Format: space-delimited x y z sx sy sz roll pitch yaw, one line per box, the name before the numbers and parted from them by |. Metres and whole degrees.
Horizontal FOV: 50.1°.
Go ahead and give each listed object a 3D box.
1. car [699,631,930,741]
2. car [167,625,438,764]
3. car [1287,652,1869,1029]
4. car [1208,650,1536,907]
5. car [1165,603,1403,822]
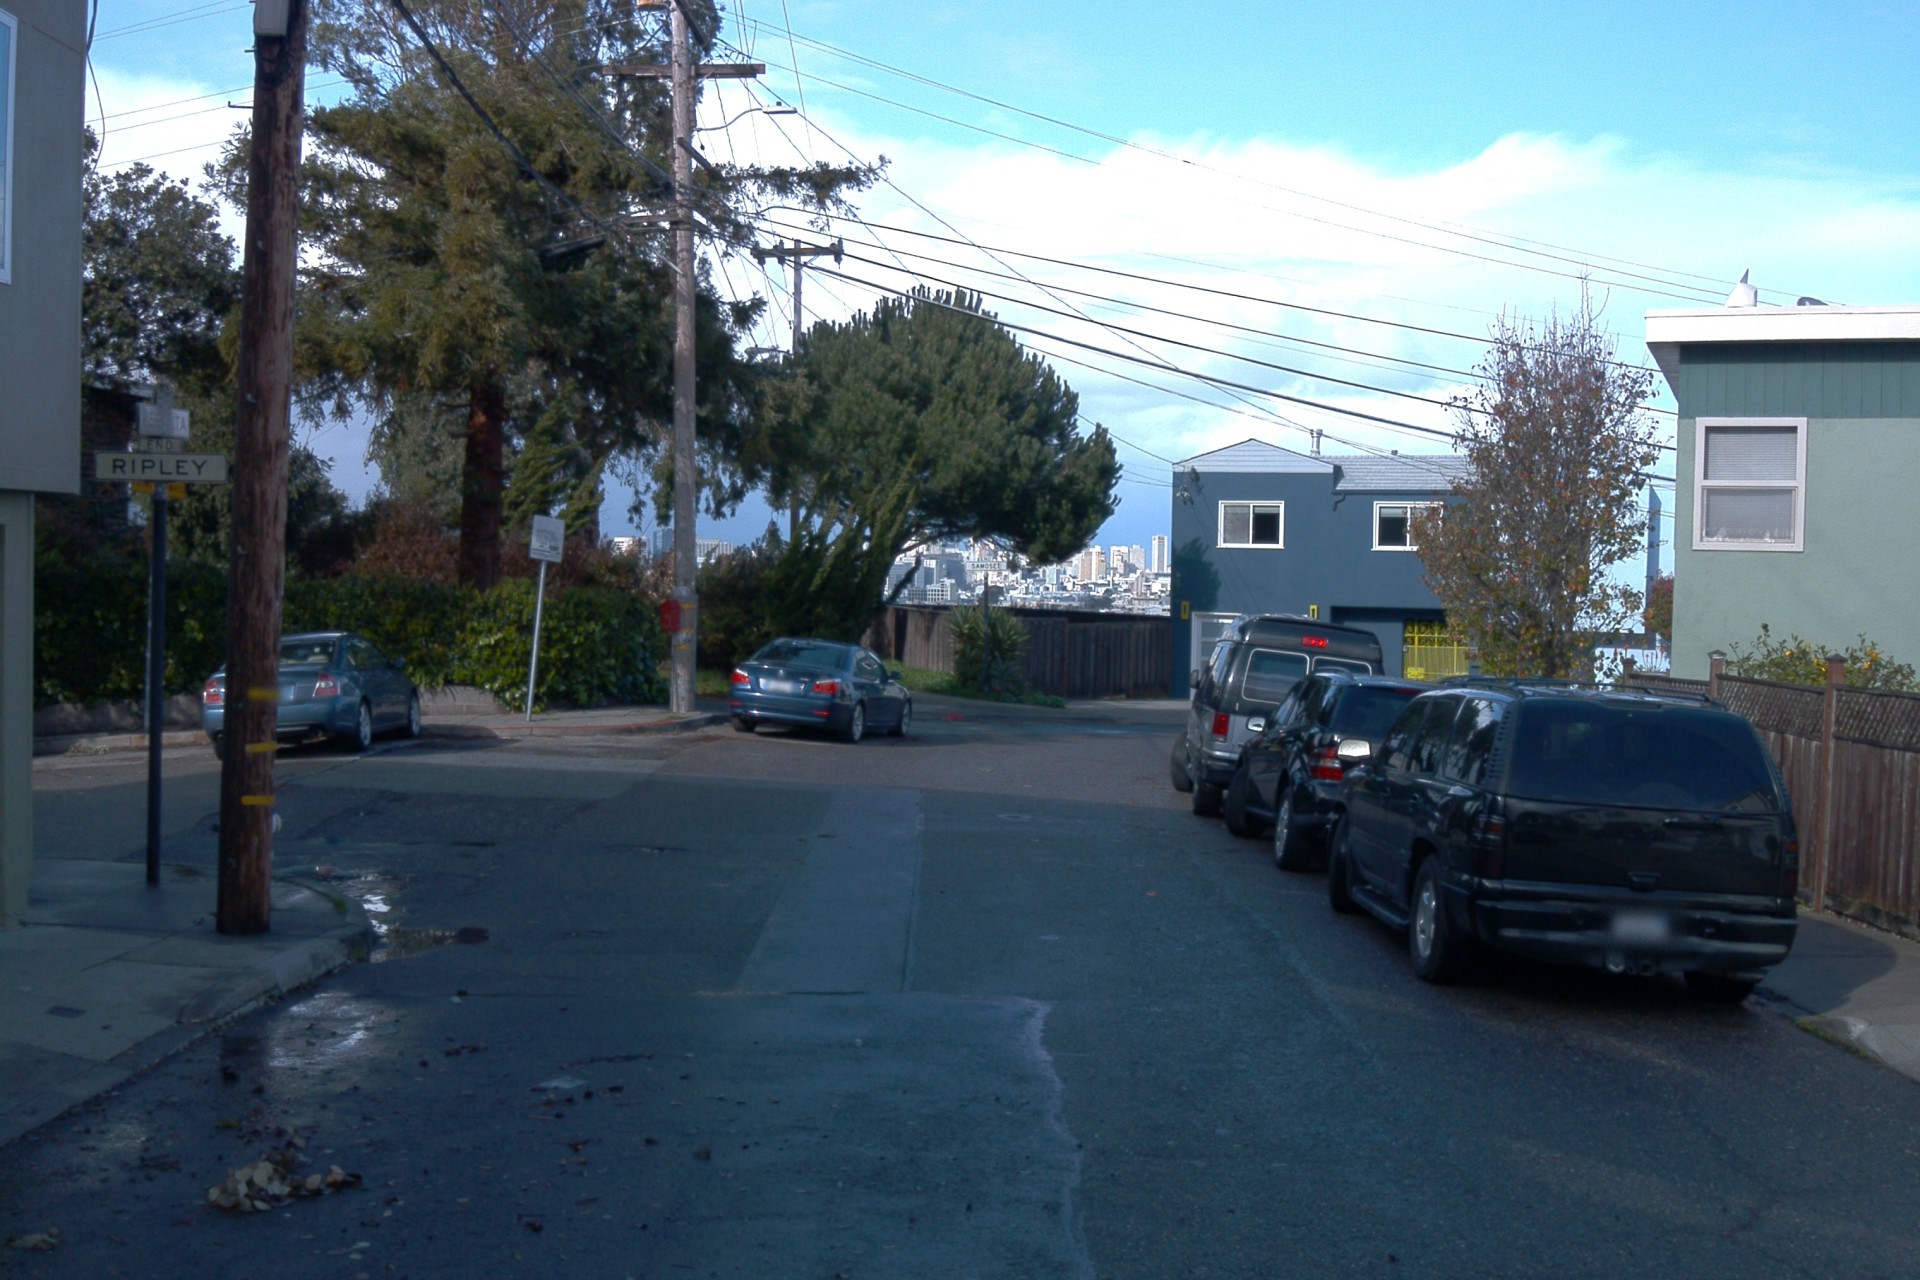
car | -2.063 0.622 30.705 2.158 1.430 4.595 1 1 13
car | -7.791 0.585 24.833 1.906 1.450 4.515 1 1 -1
car | 3.730 1.095 13.621 2.280 1.880 5.115 1 1 0
car | 3.648 1.142 19.137 2.071 1.960 4.716 1 1 0
car | 3.713 0.723 24.599 2.287 2.280 5.498 1 1 4
